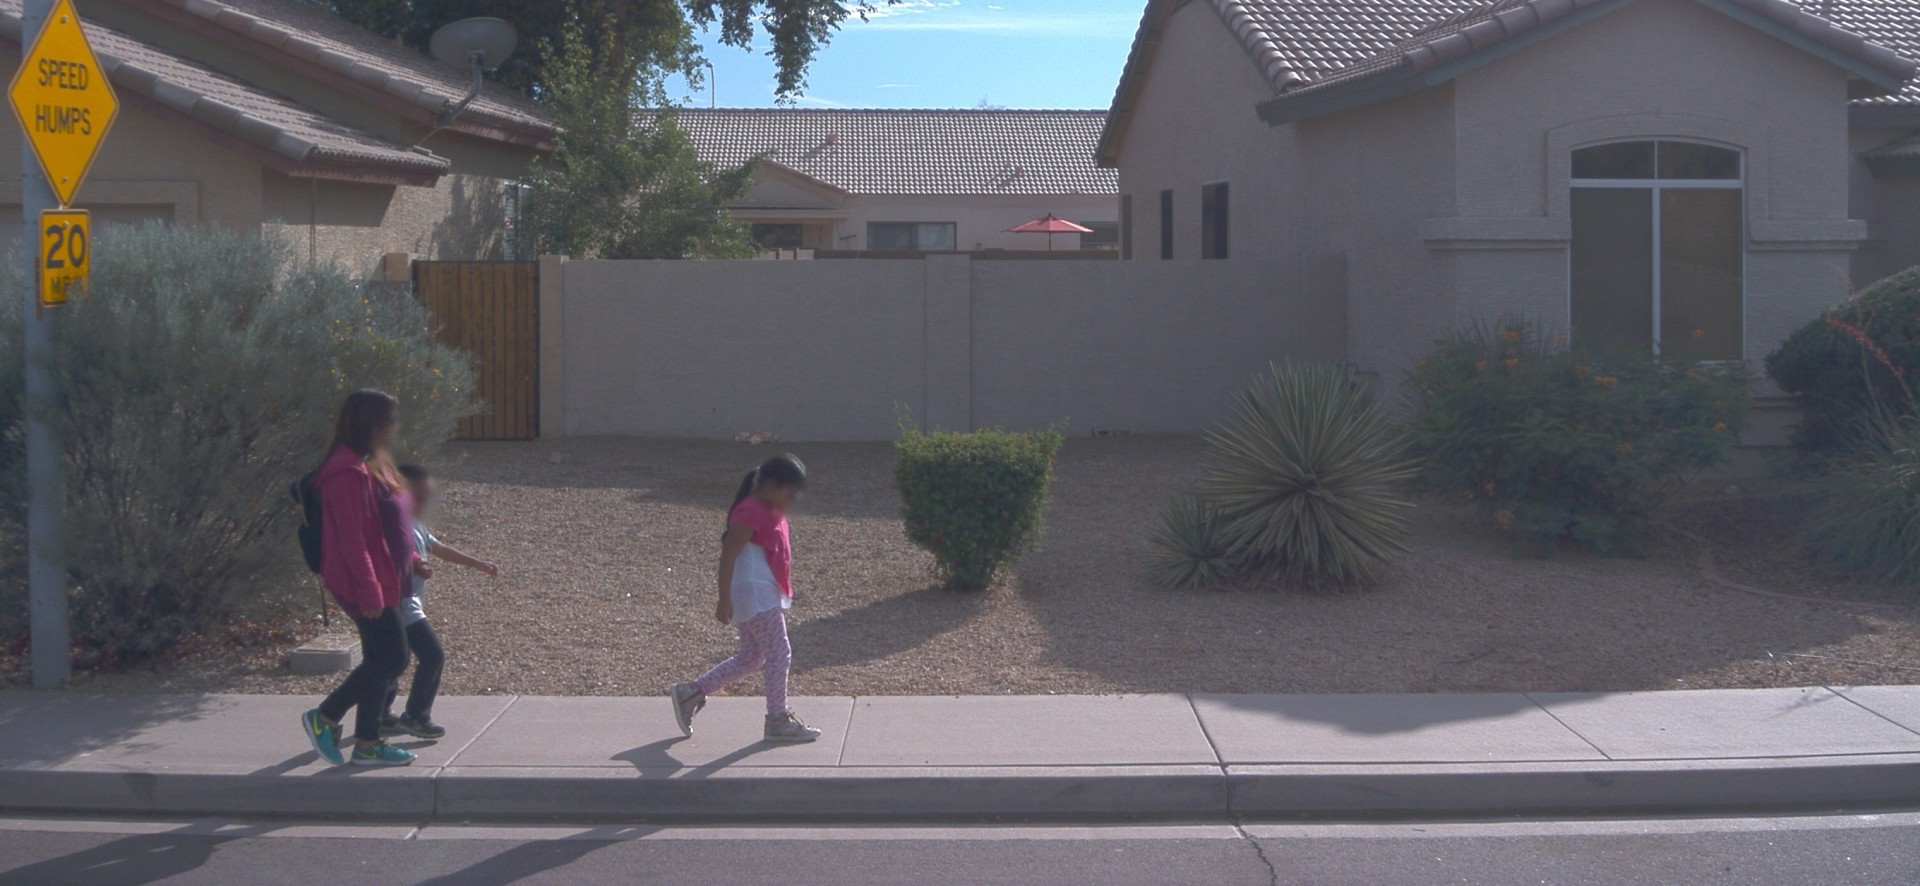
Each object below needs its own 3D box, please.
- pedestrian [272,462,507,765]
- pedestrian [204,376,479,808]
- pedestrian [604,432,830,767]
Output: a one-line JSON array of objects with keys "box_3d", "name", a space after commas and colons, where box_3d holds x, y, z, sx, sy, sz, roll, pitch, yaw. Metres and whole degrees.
[{"box_3d": [-2.389, 0.694, 8.765, 0.794, 1.148, 0.694, 0, 2, 1], "name": "pedestrian"}, {"box_3d": [-2.430, 0.552, 8.245, 0.850, 1.577, 0.785, 0, 2, 0], "name": "pedestrian"}, {"box_3d": [-1.003, 0.626, 8.733, 0.879, 1.268, 0.763, 0, 2, -2], "name": "pedestrian"}]
